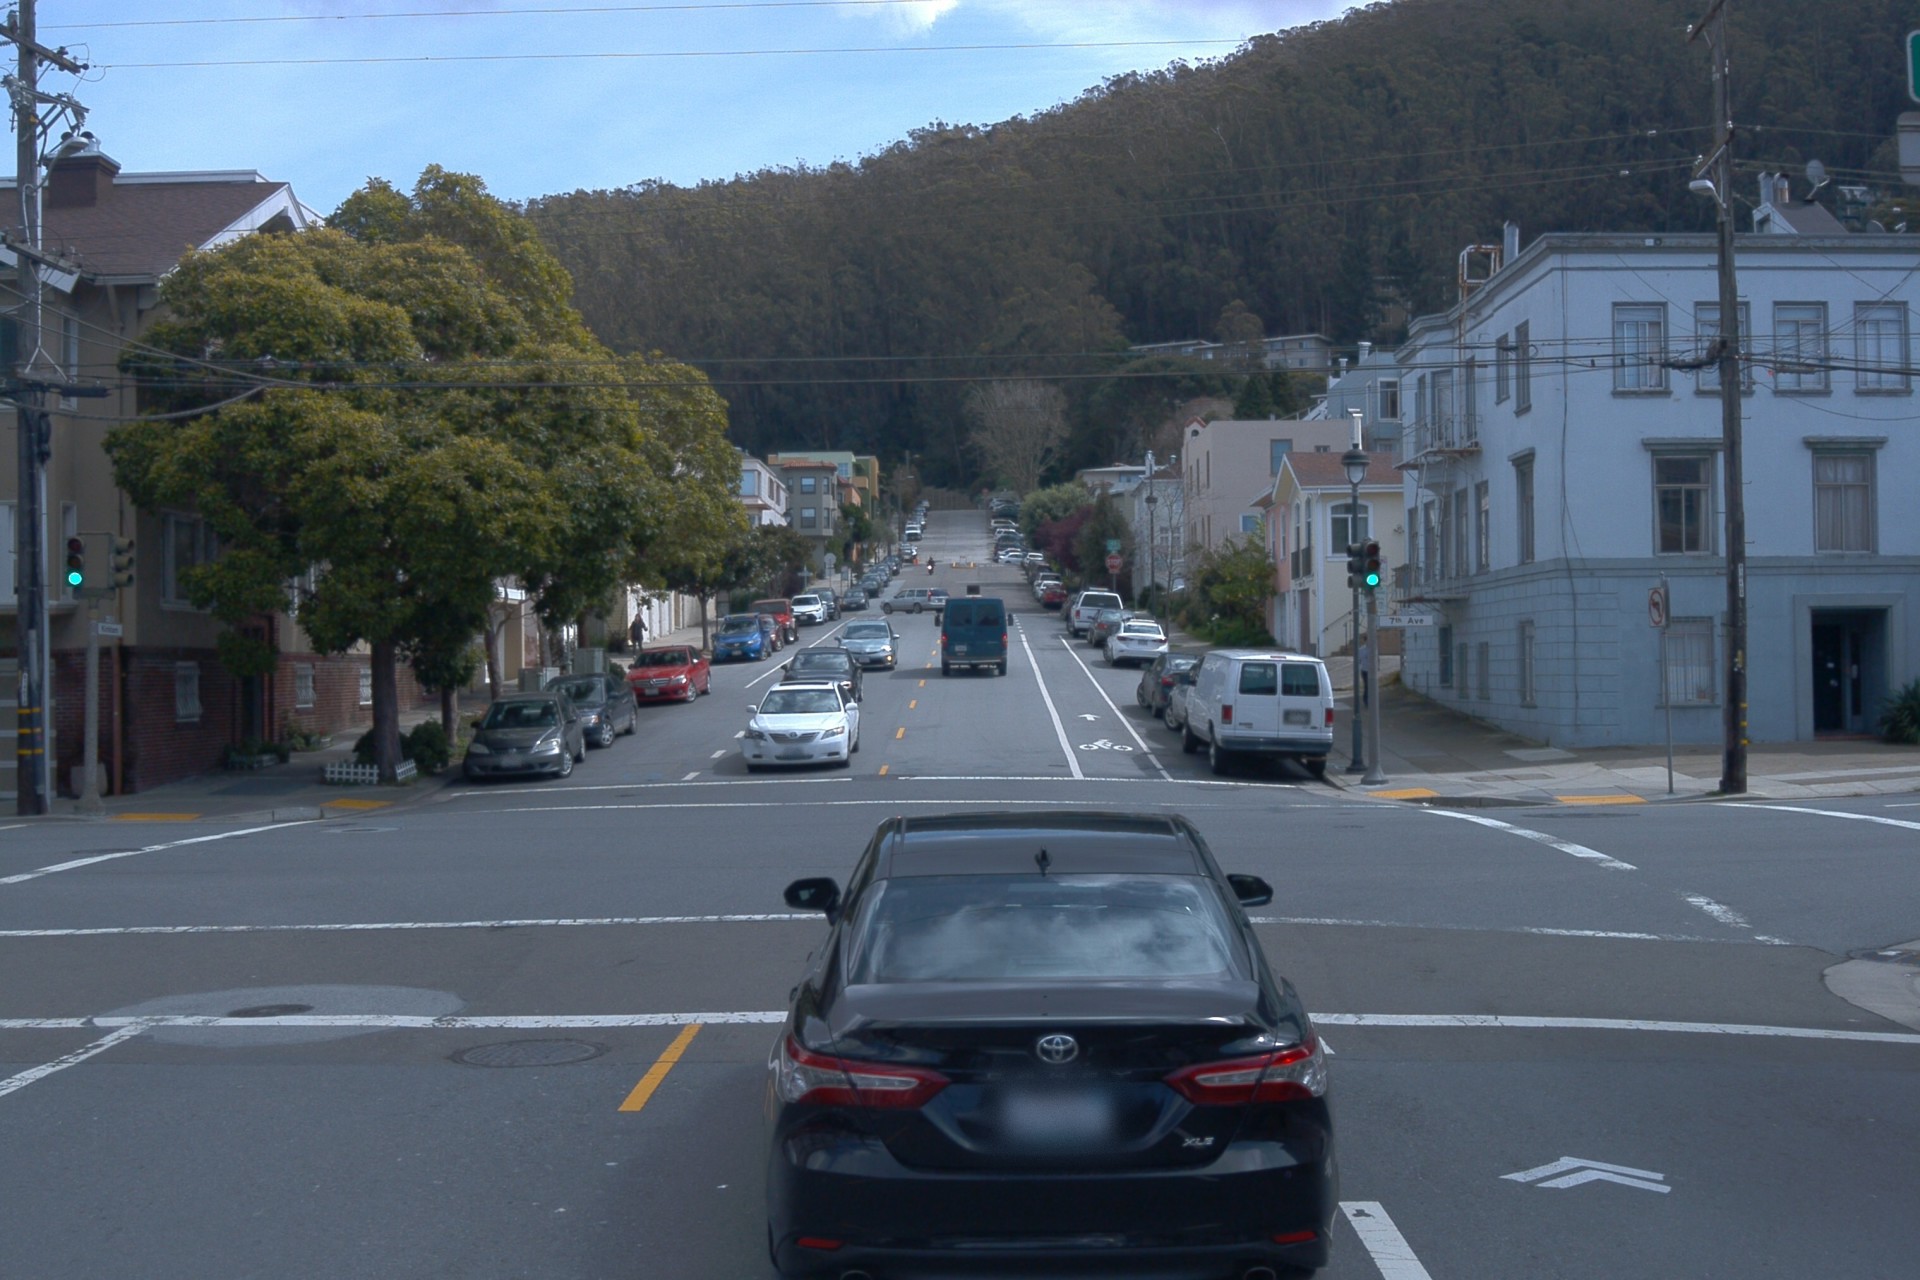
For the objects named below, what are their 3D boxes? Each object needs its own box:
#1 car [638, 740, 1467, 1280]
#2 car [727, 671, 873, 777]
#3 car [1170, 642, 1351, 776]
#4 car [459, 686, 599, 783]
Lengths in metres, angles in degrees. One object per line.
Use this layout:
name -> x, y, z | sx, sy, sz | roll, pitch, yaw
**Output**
car -> 0.282, 1.314, 7.988 | 2.249, 1.620, 4.798 | 0, 0, 1
car -> -2.844, 1.478, 37.600 | 2.209, 1.750, 4.541 | 0, 0, 1
car -> 5.314, 1.159, 37.189 | 2.299, 2.250, 5.313 | 0, 0, -2
car -> -7.710, 1.664, 37.229 | 1.836, 1.560, 4.133 | 0, 0, -3
